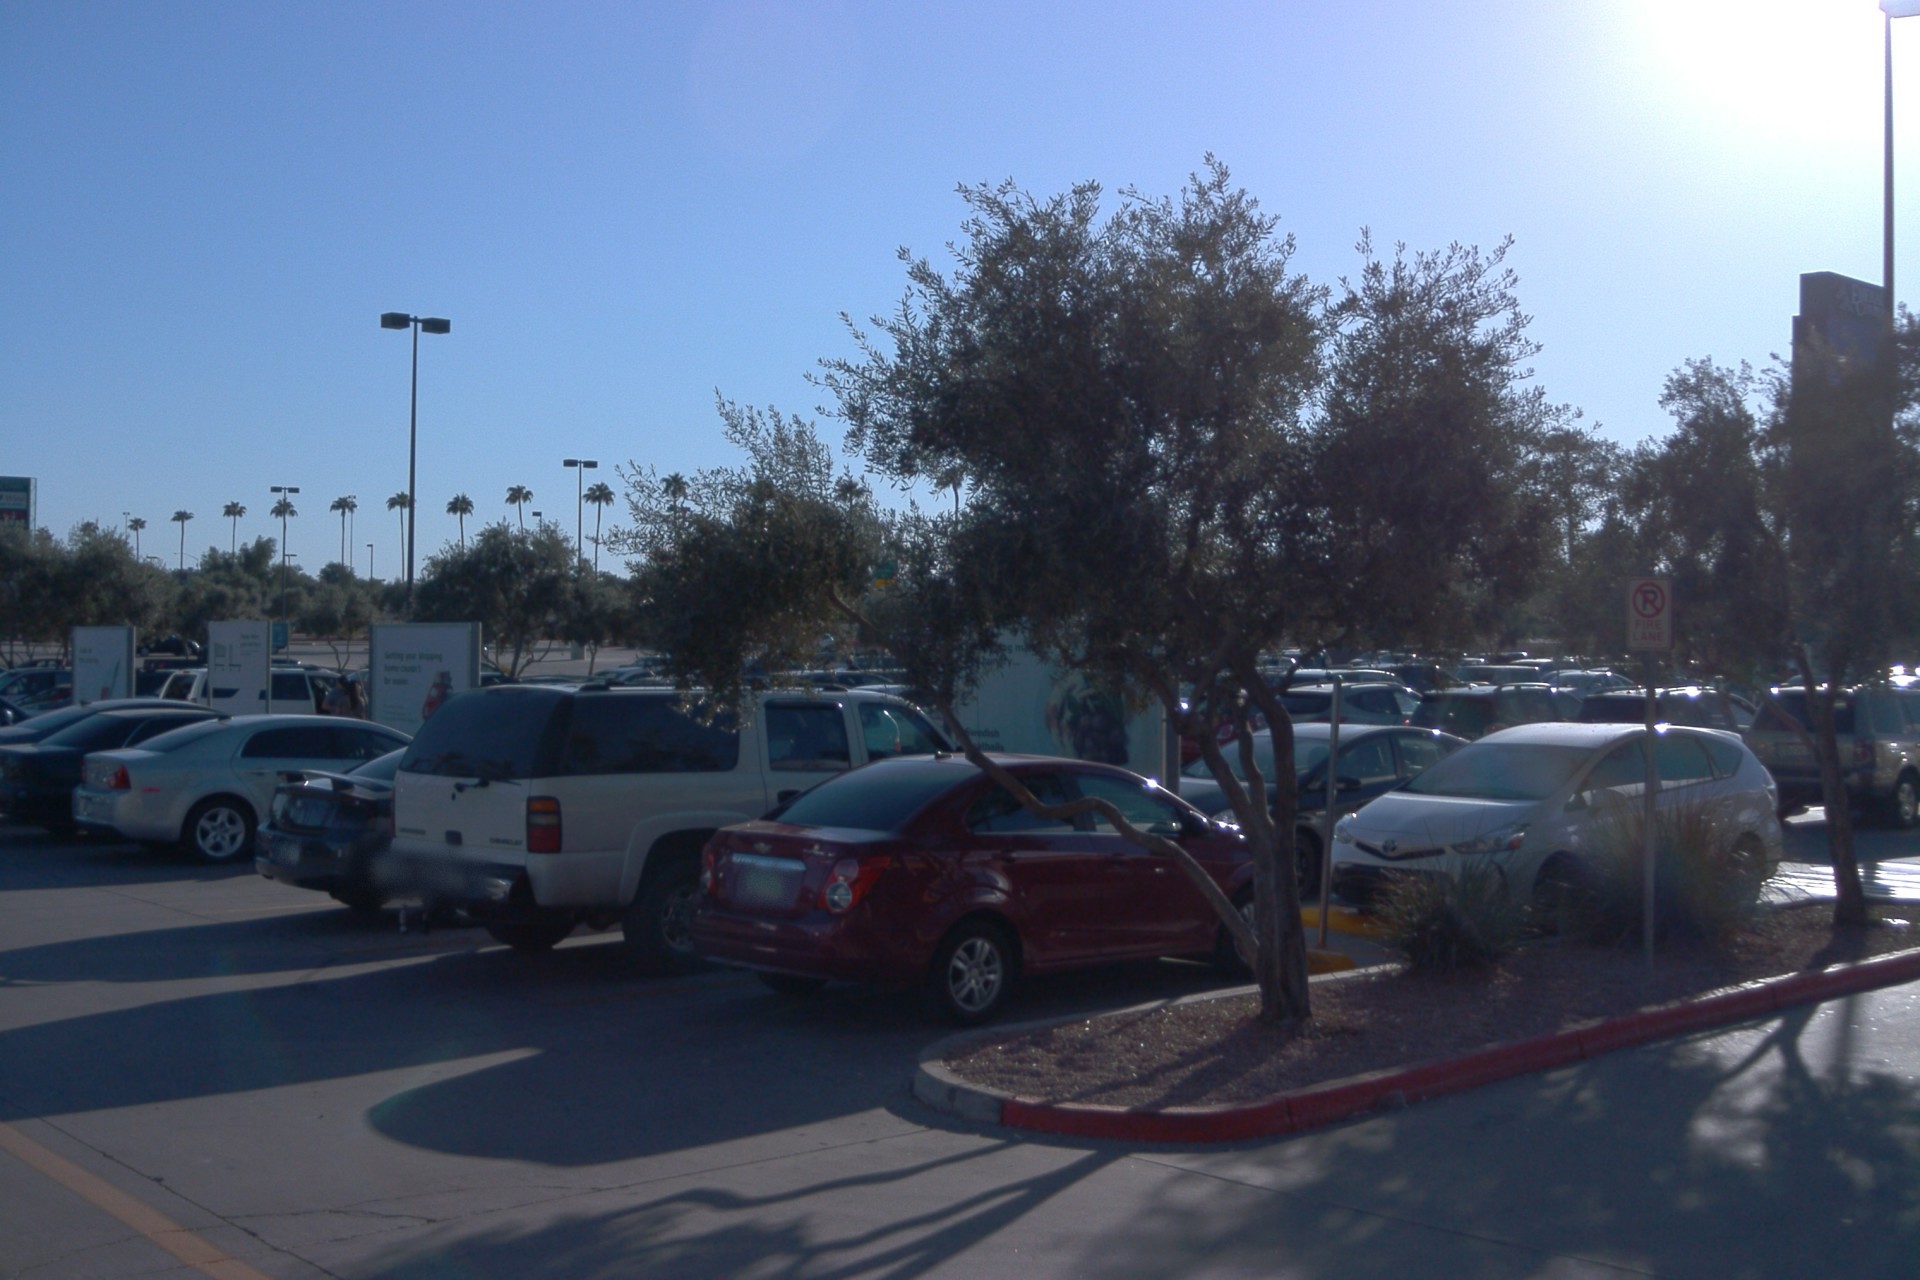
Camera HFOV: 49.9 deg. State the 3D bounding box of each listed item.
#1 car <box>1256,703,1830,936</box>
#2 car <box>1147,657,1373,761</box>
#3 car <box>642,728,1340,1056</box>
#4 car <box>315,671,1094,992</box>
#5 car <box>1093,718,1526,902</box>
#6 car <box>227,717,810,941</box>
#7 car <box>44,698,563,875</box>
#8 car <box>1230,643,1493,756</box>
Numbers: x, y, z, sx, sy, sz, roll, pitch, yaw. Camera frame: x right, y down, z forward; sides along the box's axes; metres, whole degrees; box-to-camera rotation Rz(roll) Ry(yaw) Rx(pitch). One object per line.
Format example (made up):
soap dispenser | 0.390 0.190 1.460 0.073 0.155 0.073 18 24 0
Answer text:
car | 4.838 1.317 16.741 4.817 1.500 2.237 1 0 -42
car | 5.272 1.161 36.073 3.729 1.700 1.869 1 0 -39
car | 0.324 1.427 13.083 4.294 1.580 1.862 1 0 -42
car | -1.656 1.182 14.951 5.317 1.880 2.178 1 0 -43
car | 3.293 1.480 19.091 3.896 1.400 1.920 1 0 -42
car | -3.552 1.450 17.116 4.346 1.490 1.909 1 0 -42
car | -6.756 1.432 21.565 4.773 1.560 1.931 1 0 -40
car | 6.683 0.940 34.154 4.286 1.740 1.983 1 0 -39
